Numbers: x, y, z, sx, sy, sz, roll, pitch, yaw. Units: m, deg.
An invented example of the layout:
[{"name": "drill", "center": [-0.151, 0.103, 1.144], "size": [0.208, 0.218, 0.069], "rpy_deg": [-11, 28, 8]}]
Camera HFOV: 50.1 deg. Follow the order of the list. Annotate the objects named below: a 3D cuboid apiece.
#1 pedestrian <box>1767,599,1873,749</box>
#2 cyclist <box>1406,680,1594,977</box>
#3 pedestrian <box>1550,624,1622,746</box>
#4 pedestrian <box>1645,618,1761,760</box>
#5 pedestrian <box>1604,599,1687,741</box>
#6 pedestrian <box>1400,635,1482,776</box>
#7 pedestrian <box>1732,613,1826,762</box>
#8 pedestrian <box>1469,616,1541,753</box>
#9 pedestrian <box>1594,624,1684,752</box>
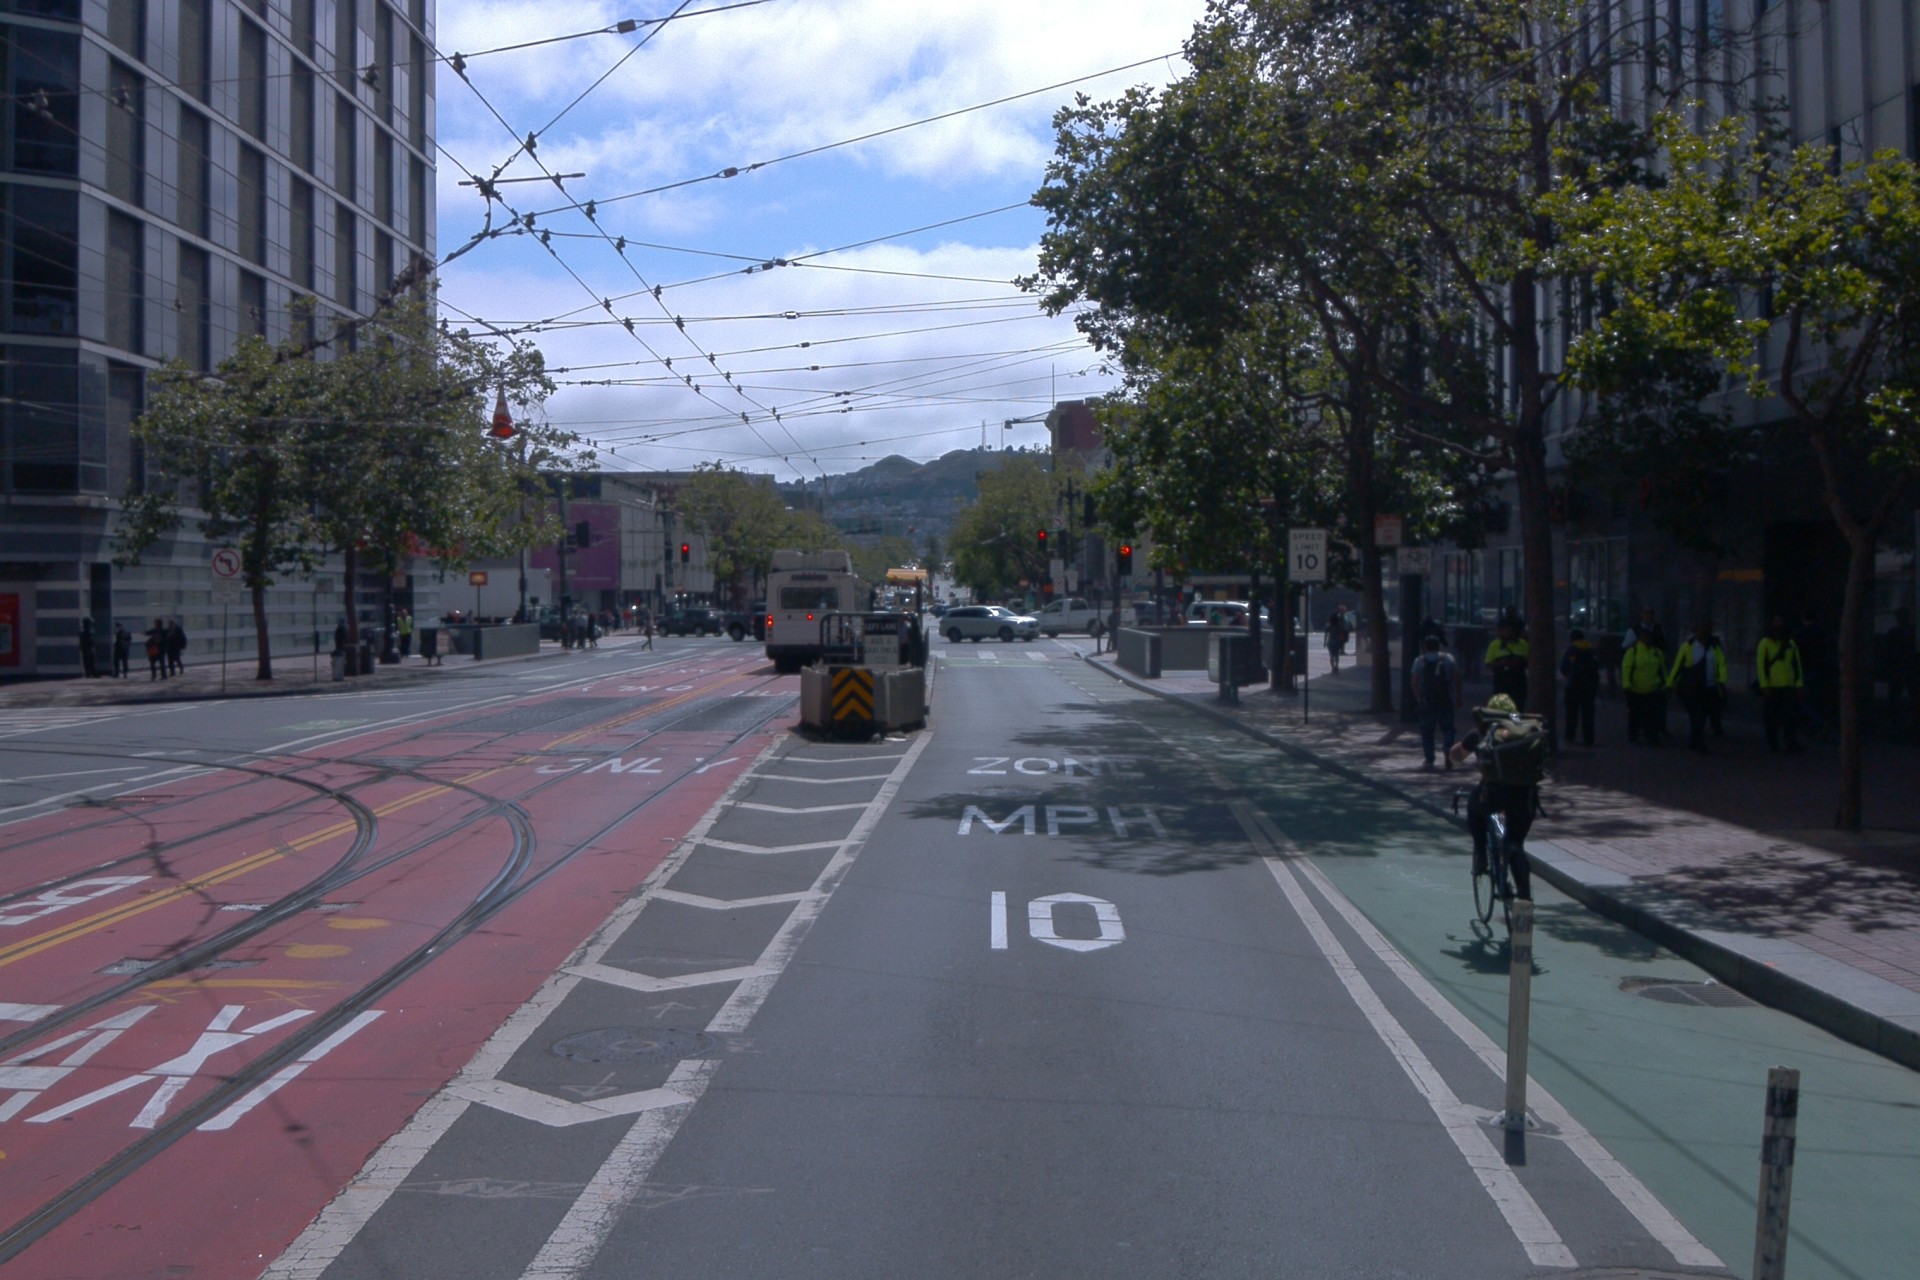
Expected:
[{"name": "pedestrian", "center": [11.609, 0.448, 27.789], "size": [0.866, 1.980, 1.228], "rpy_deg": [0, 1, -3]}, {"name": "cyclist", "center": [3.519, 1.182, 13.565], "size": [0.807, 1.770, 1.801], "rpy_deg": [0, 1, 2]}, {"name": "pedestrian", "center": [8.674, 0.605, 28.527], "size": [0.710, 1.660, 1.022], "rpy_deg": [0, 1, 2]}, {"name": "pedestrian", "center": [9.574, 0.610, 26.534], "size": [1.091, 1.790, 1.169], "rpy_deg": [0, 1, 1]}, {"name": "pedestrian", "center": [9.800, 0.416, 29.431], "size": [0.862, 2.000, 1.081], "rpy_deg": [0, 1, 3]}, {"name": "pedestrian", "center": [5.879, 0.789, 25.175], "size": [0.811, 1.680, 0.942], "rpy_deg": [0, 1, 3]}, {"name": "pedestrian", "center": [10.433, 0.587, 26.210], "size": [0.771, 1.850, 1.014], "rpy_deg": [0, 1, -1]}, {"name": "pedestrian", "center": [7.491, 0.598, 28.289], "size": [0.916, 1.840, 1.100], "rpy_deg": [0, 1, 13]}, {"name": "pedestrian", "center": [9.369, 0.642, 28.408], "size": [0.895, 1.730, 1.149], "rpy_deg": [0, 1, 3]}]
